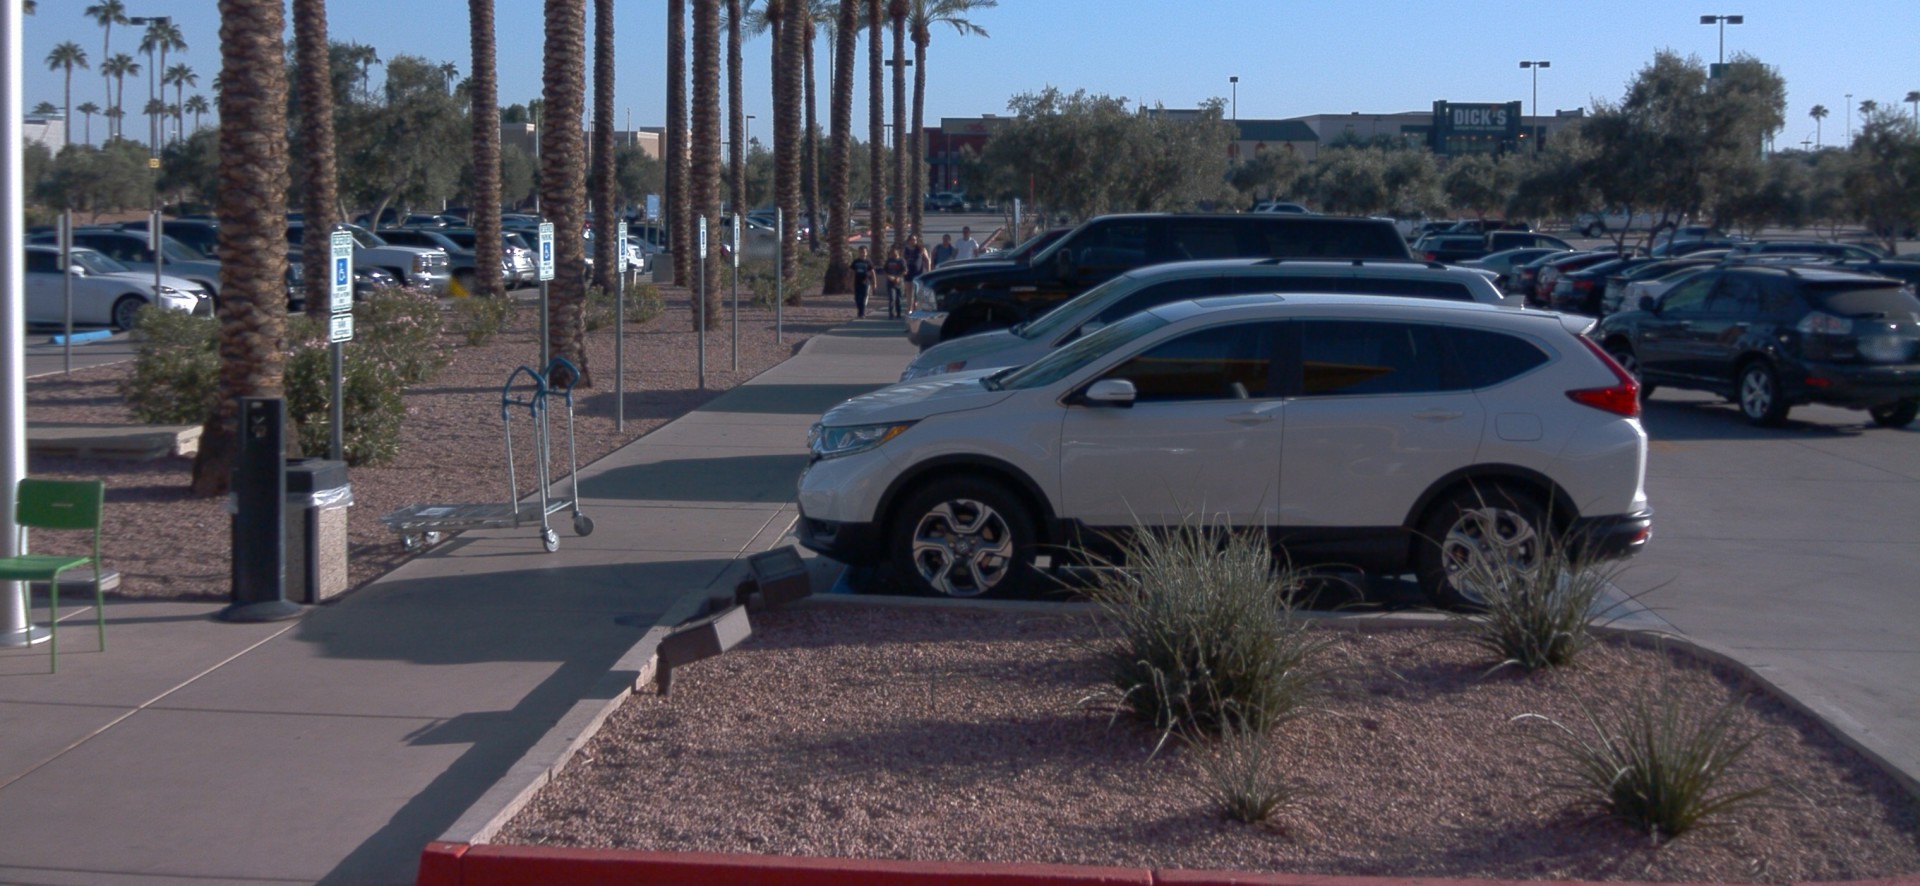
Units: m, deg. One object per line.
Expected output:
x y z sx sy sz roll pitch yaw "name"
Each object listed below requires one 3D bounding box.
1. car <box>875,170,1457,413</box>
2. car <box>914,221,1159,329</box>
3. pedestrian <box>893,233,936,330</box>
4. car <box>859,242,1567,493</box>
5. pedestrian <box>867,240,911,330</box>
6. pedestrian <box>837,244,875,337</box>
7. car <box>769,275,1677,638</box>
2.272 -1.771 23.471 6.146 2.484 2.691 1 4 4 "car"
1.283 -2.891 35.443 4.038 1.726 2.032 1 4 0 "car"
-0.857 -3.052 39.169 0.769 1.788 0.755 1 1 0 "pedestrian"
1.914 -0.677 16.690 5.275 1.775 2.262 1 4 1 "car"
-1.264 -2.837 37.111 0.736 1.568 0.695 1 1 0 "pedestrian"
-1.853 -2.726 37.086 0.622 1.628 0.688 1 1 0 "pedestrian"
1.313 -0.011 11.510 4.556 1.705 2.173 1 4 -1 "car"
